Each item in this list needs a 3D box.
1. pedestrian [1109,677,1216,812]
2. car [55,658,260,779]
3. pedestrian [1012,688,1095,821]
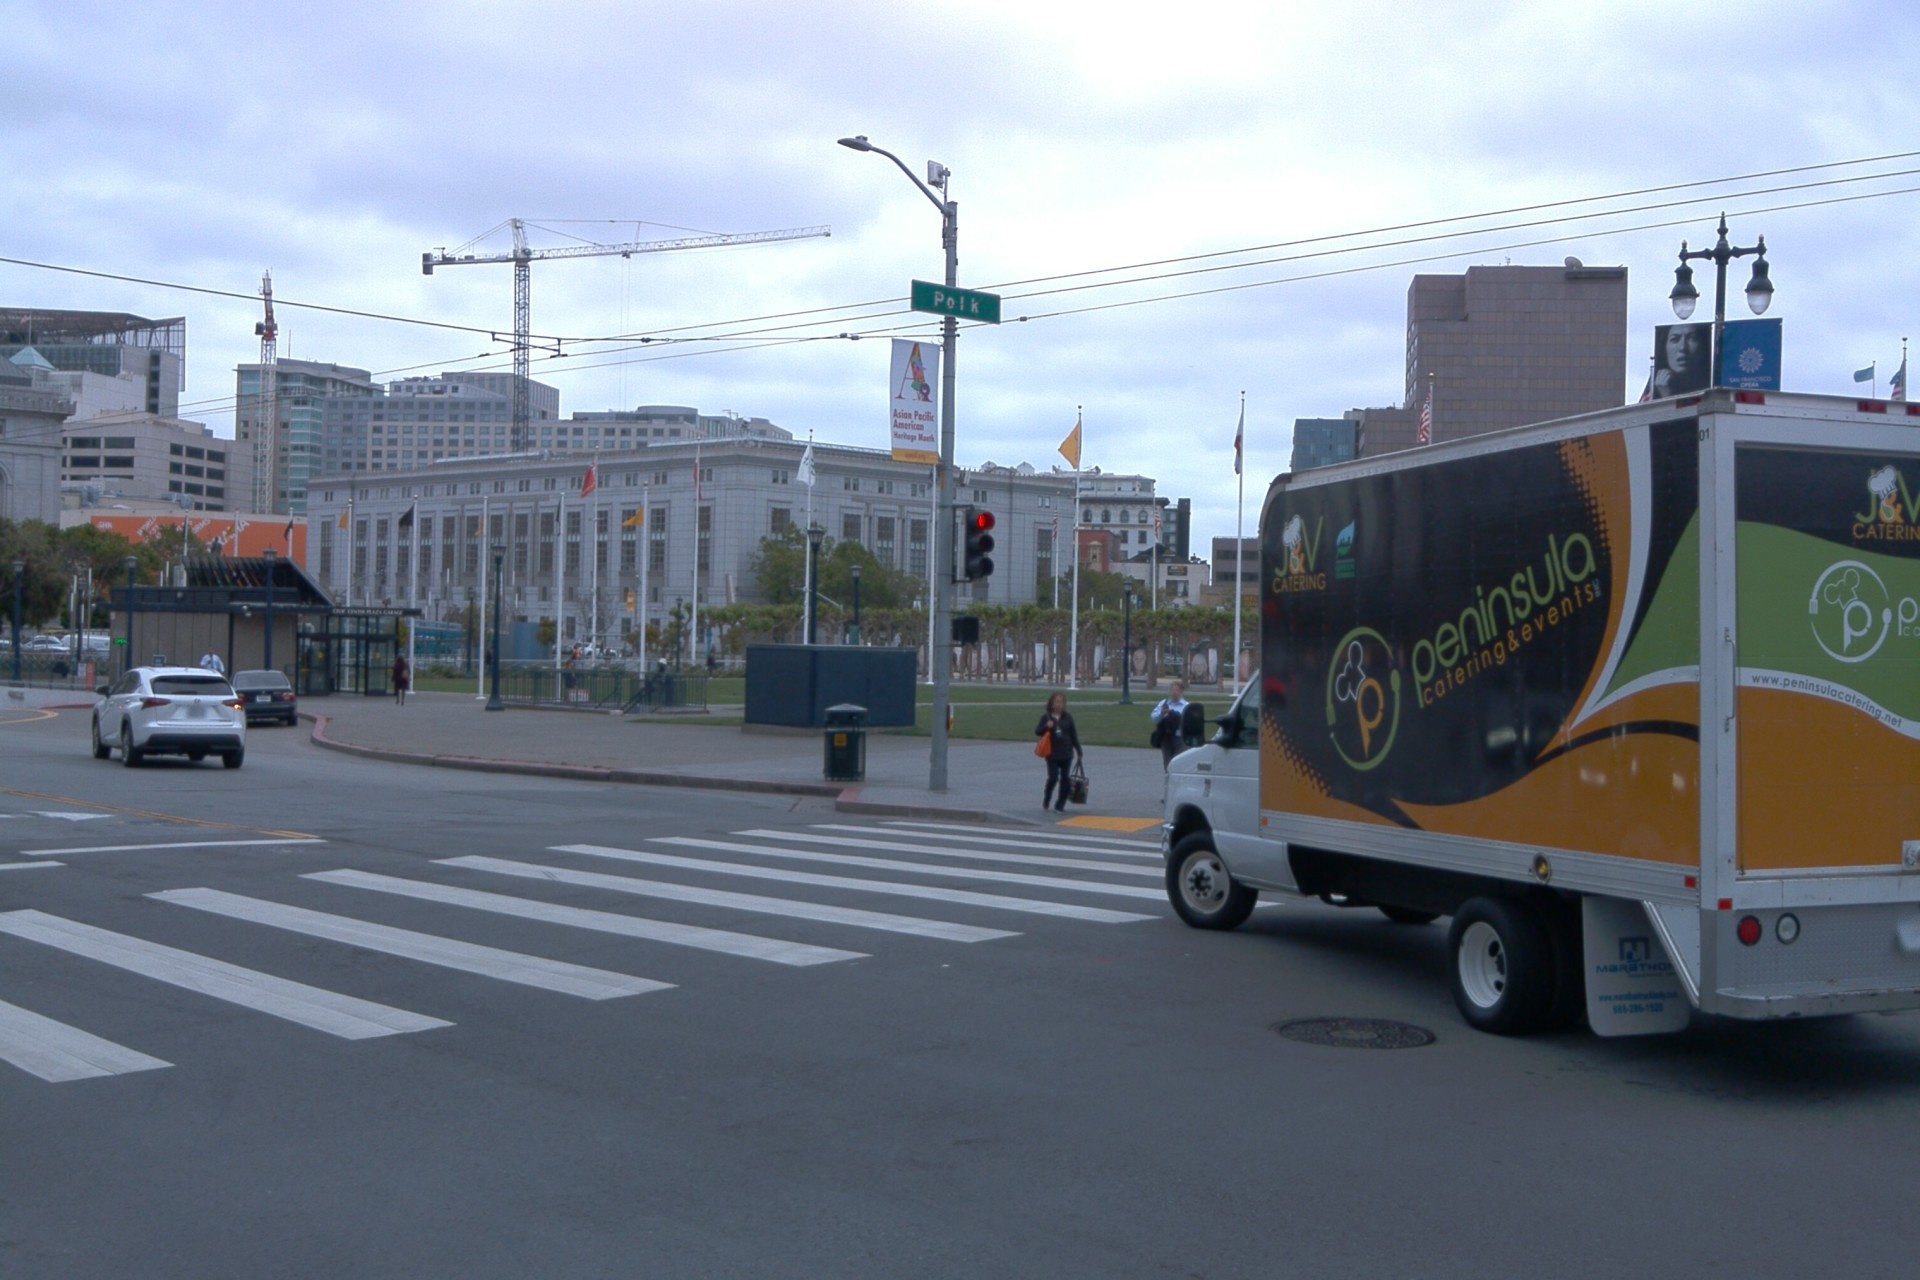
[{"bbox_3d":[2.809,1.426,28.619,1.055,1.764,1.153,1,1,34],"label":"pedestrian"},{"bbox_3d":[-13.258,1.218,33.950,2.194,1.692,4.575,-1,1,-34],"label":"car"},{"bbox_3d":[1.202,1.473,26.795,1.020,1.654,1.013,0,1,-1],"label":"pedestrian"}]
